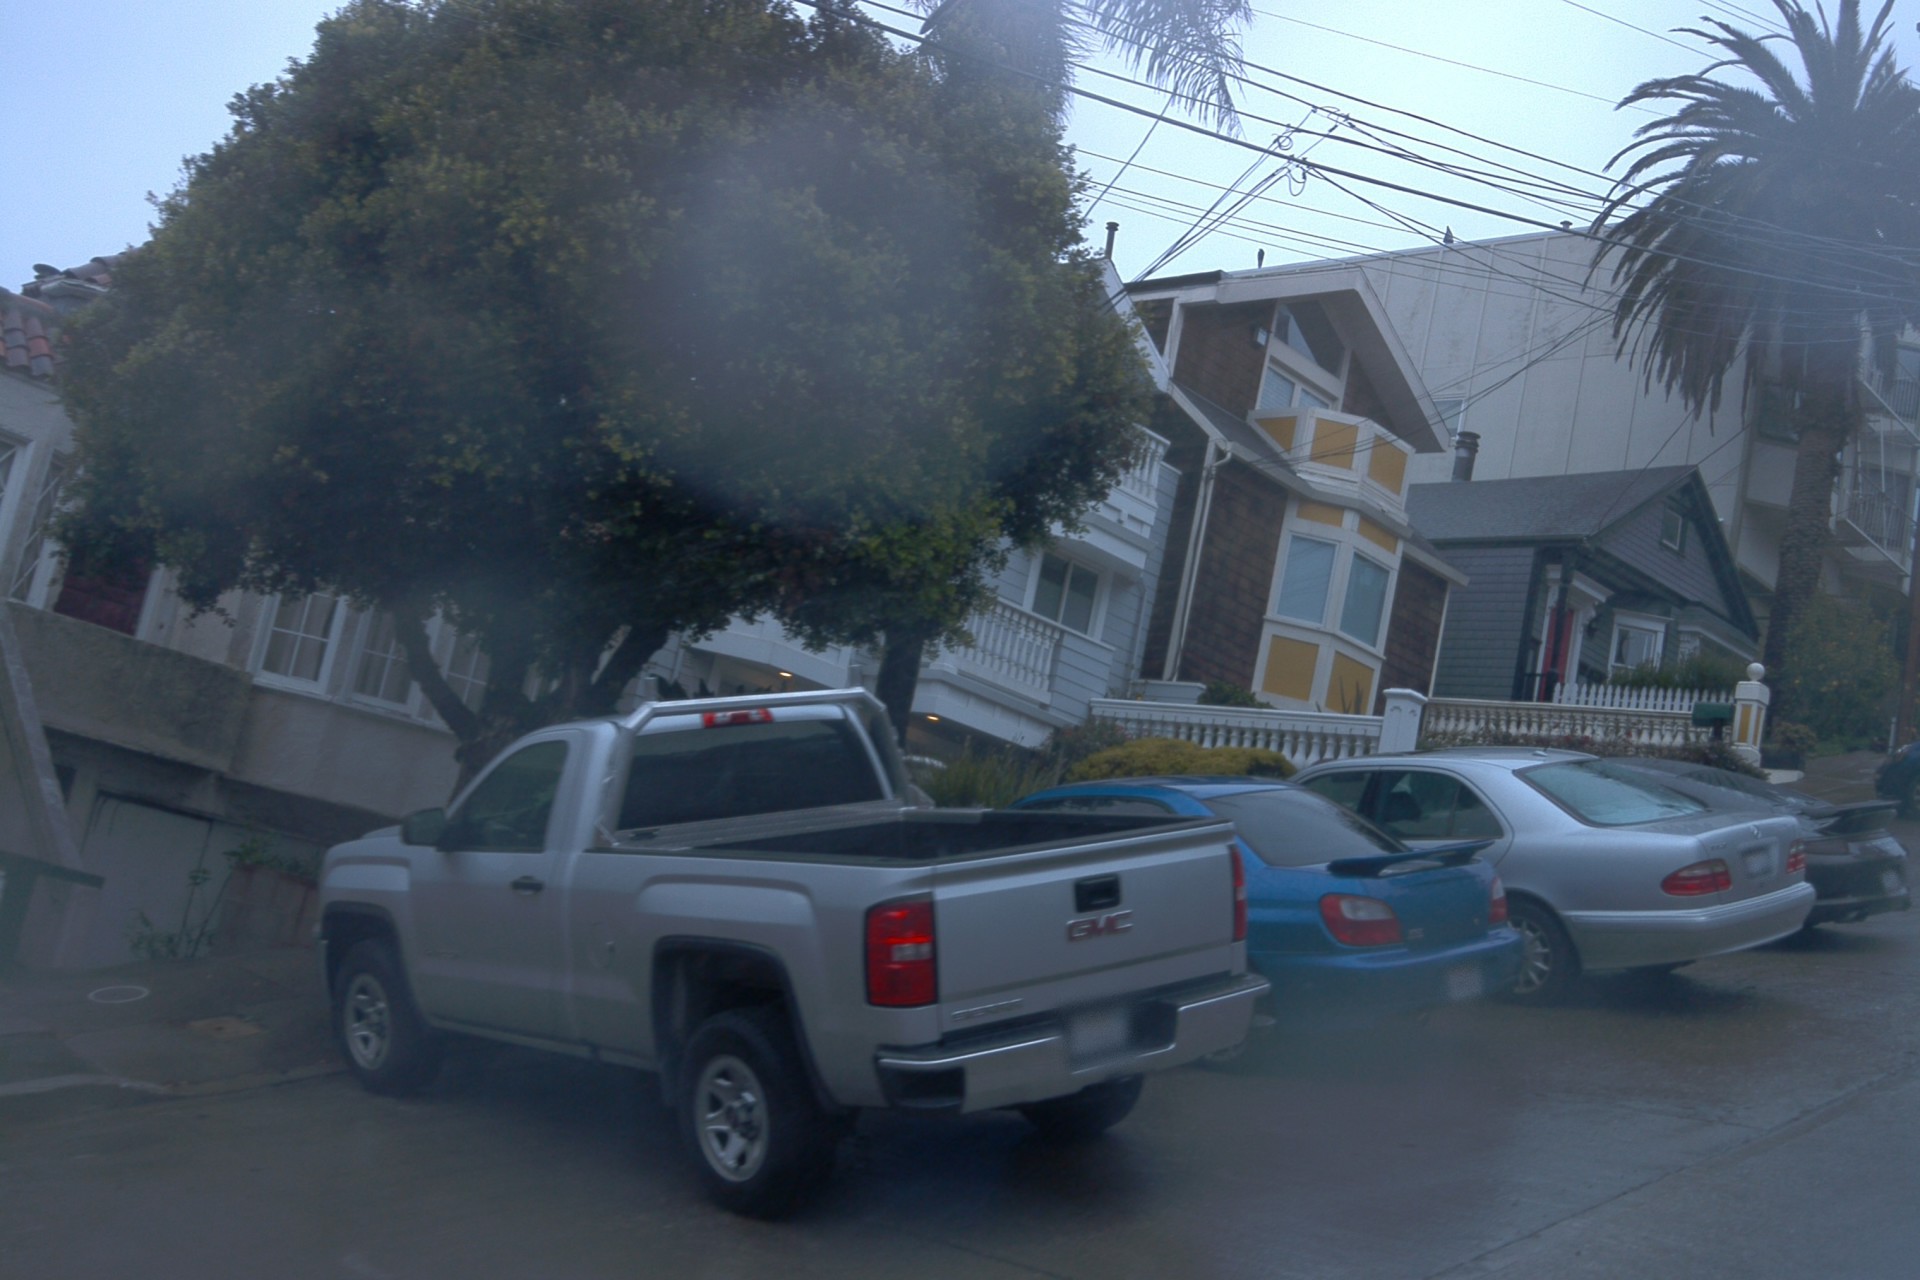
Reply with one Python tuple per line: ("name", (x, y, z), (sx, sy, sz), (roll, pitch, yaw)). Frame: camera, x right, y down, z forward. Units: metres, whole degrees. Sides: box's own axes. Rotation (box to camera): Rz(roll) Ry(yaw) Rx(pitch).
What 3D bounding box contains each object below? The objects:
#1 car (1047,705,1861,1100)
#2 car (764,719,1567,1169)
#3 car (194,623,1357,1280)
("car", (2.982, 1.451, 13.282), (2.134, 1.910, 4.645), (0, 0, -44))
("car", (0.990, 1.431, 11.269), (3.996, 1.840, 1.890), (0, 0, 43))
("car", (-1.141, 1.171, 9.240), (2.489, 2.450, 5.272), (0, 0, -42))
